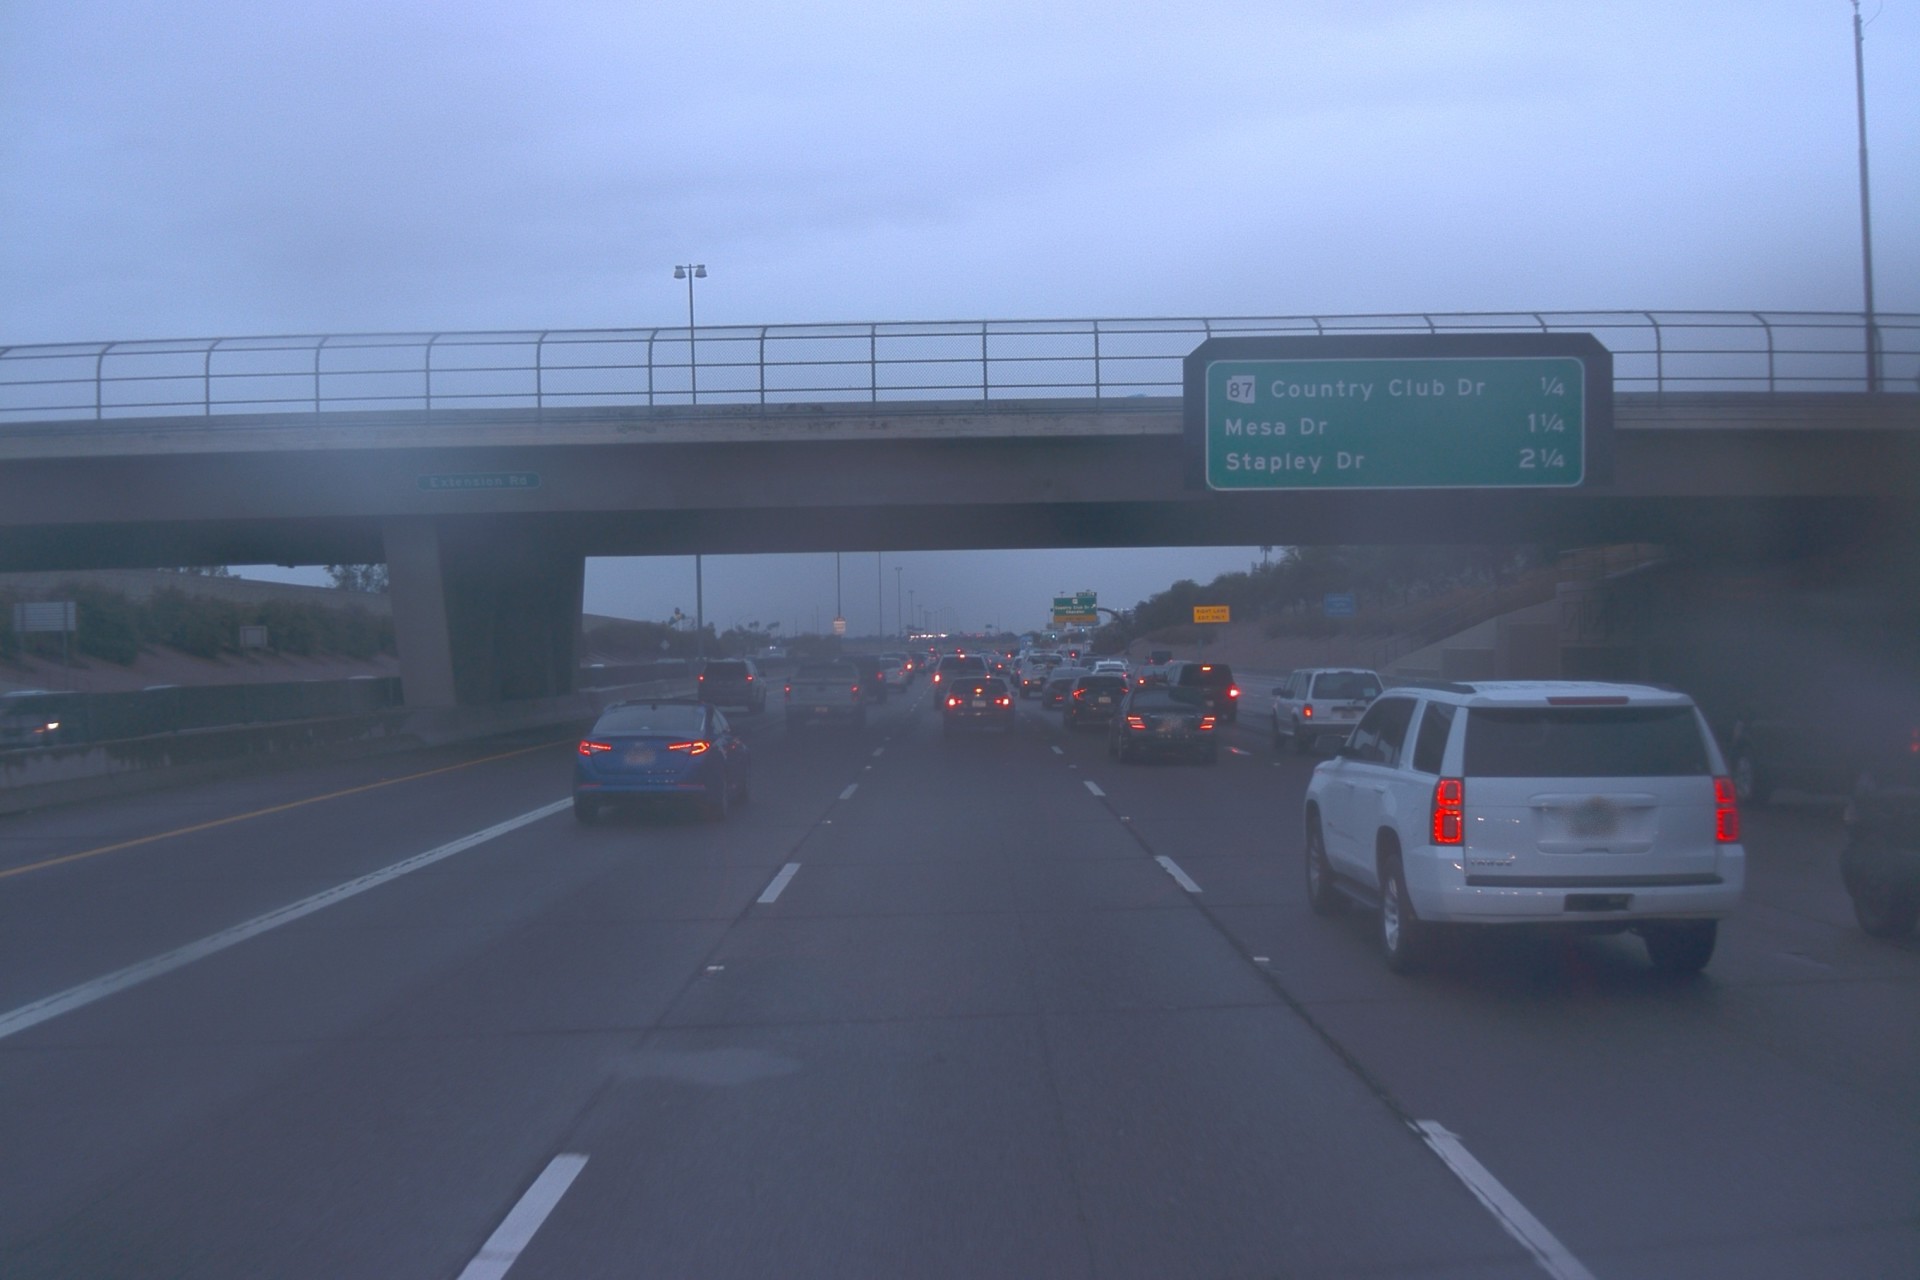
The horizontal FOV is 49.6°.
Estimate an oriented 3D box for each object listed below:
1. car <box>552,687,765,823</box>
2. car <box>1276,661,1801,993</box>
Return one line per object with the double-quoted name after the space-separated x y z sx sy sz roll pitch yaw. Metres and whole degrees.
-3.734 1.395 26.509 1.988 1.510 4.517 0 0 1 "car"
3.788 1.124 14.750 2.316 1.930 5.083 0 0 0 "car"
